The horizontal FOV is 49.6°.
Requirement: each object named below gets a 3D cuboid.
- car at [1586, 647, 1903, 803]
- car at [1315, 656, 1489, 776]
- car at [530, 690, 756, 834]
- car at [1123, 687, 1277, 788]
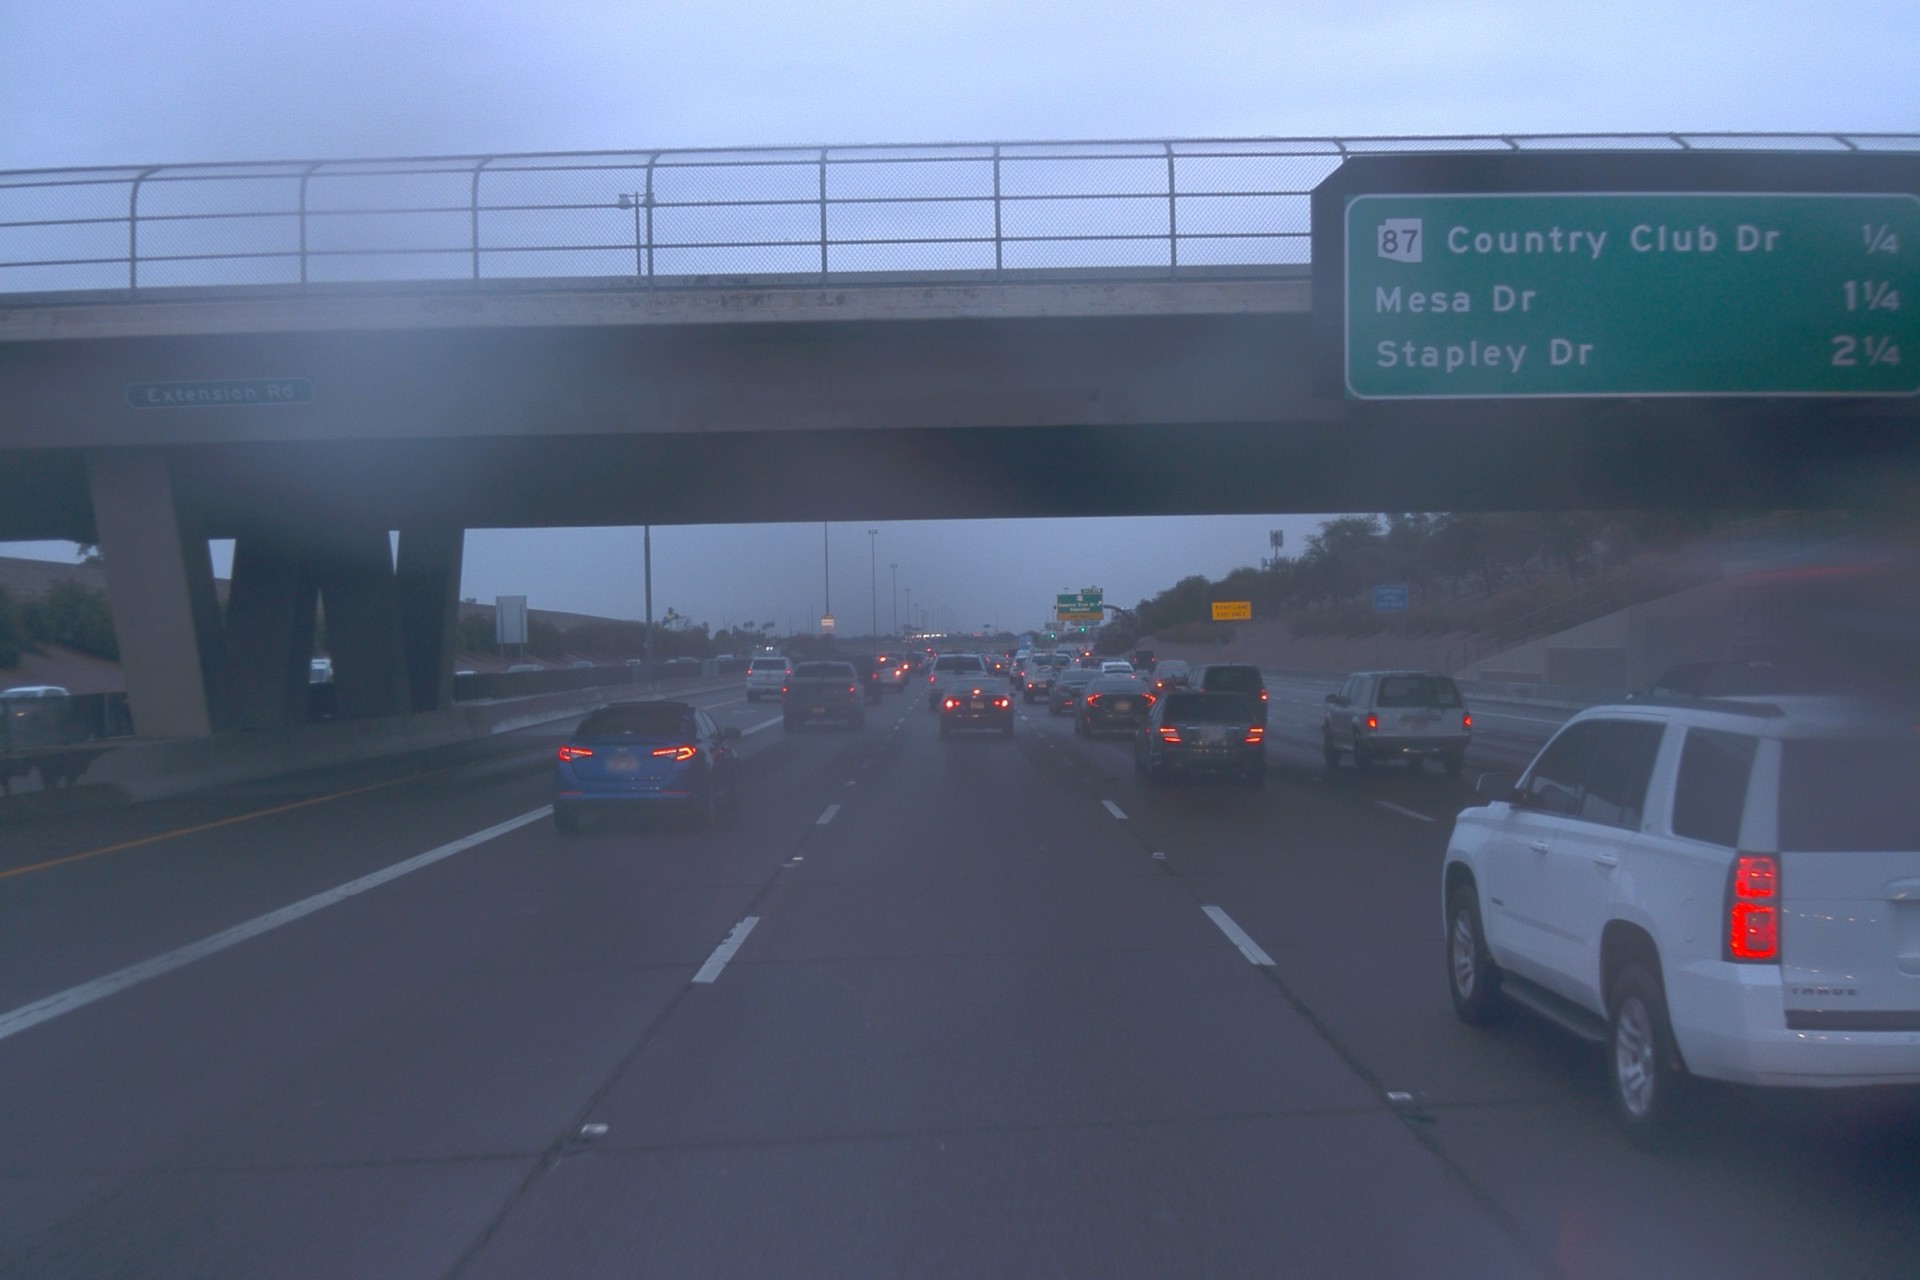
[{"bbox_3d":[11.131,1.123,30.043,2.367,2.030,5.832,0,0,0],"label":"car"},{"bbox_3d":[7.532,1.249,35.867,2.027,1.920,4.684,0,0,0],"label":"car"},{"bbox_3d":[-3.744,1.414,25.320,1.988,1.510,4.517,0,0,1],"label":"car"},{"bbox_3d":[3.779,1.514,33.430,2.000,1.420,4.583,0,0,1],"label":"car"}]
